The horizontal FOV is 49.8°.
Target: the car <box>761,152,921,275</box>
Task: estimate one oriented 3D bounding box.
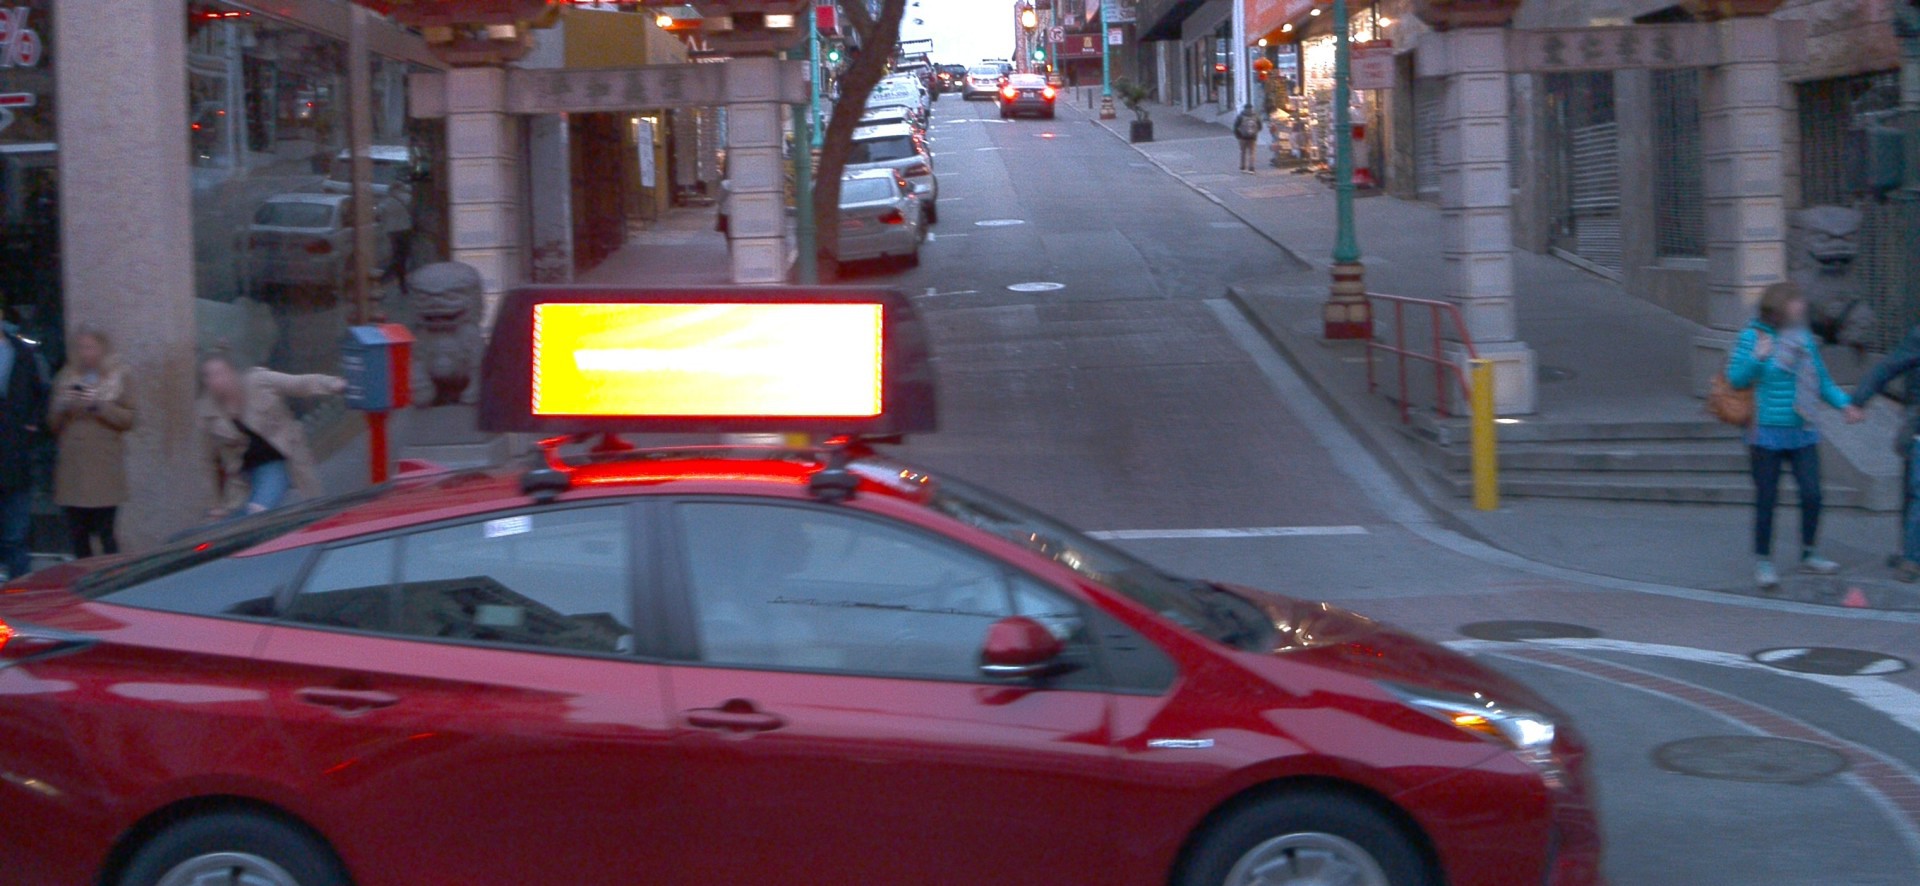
[{"bbox_3d":[-1.702,-3.464,31.126,2.091,1.681,4.480,0,6,1],"label":"car"}]

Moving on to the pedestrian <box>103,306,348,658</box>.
[{"bbox_3d":[-4.148,0.187,11.747,1.090,1.876,0.821,-1,2,-2],"label":"pedestrian"}]

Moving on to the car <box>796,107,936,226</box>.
[{"bbox_3d":[-1.606,-4.918,37.098,2.229,1.960,4.596,0,6,1],"label":"car"}]

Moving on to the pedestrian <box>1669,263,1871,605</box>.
[{"bbox_3d":[4.625,-0.091,11.872,0.925,1.846,0.939,0,2,11],"label":"pedestrian"}]
